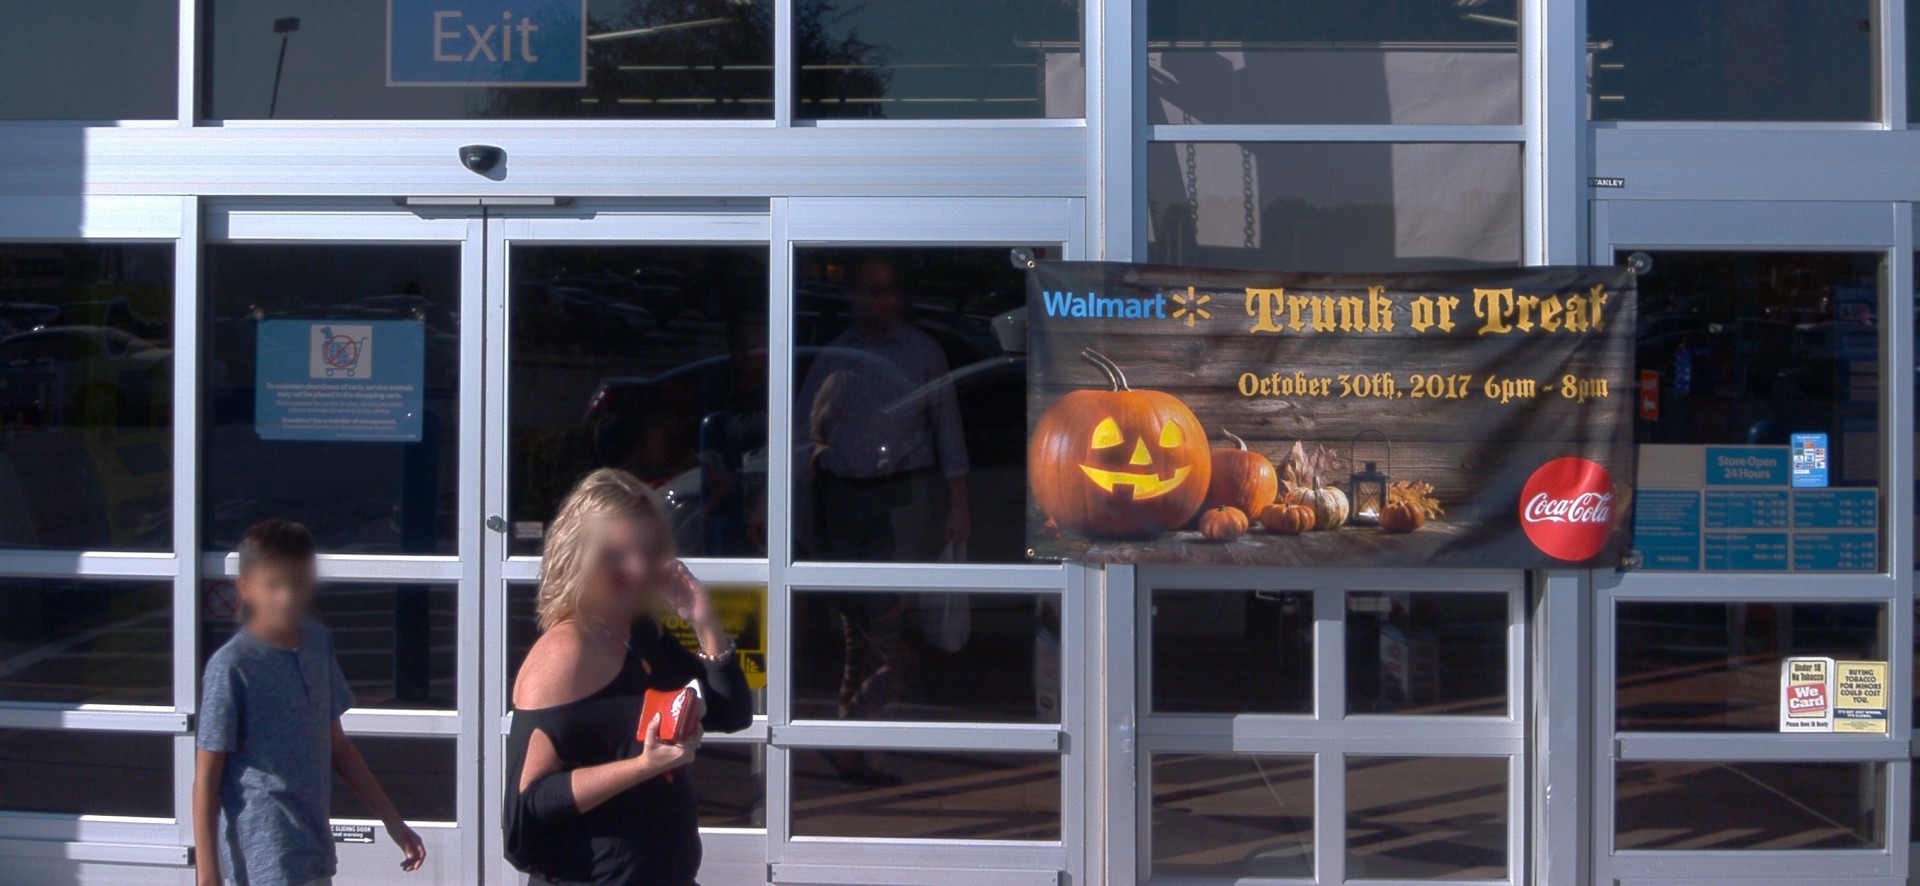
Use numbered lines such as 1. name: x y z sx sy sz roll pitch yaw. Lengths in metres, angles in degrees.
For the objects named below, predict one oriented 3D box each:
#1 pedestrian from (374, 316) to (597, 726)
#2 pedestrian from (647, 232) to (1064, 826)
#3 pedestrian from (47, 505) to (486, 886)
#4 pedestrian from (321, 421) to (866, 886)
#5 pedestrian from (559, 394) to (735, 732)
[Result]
1. pedestrian: -2.124 0.294 9.260 0.797 1.690 0.782 0 1 -26
2. pedestrian: -0.365 0.225 7.910 1.205 2.040 1.140 1 1 21
3. pedestrian: -1.445 0.924 4.451 0.707 1.490 0.737 0 1 -3
4. pedestrian: -0.620 0.872 3.756 0.780 1.750 0.738 1 1 6
5. pedestrian: -1.230 0.450 8.226 0.536 1.240 0.545 1 1 9
